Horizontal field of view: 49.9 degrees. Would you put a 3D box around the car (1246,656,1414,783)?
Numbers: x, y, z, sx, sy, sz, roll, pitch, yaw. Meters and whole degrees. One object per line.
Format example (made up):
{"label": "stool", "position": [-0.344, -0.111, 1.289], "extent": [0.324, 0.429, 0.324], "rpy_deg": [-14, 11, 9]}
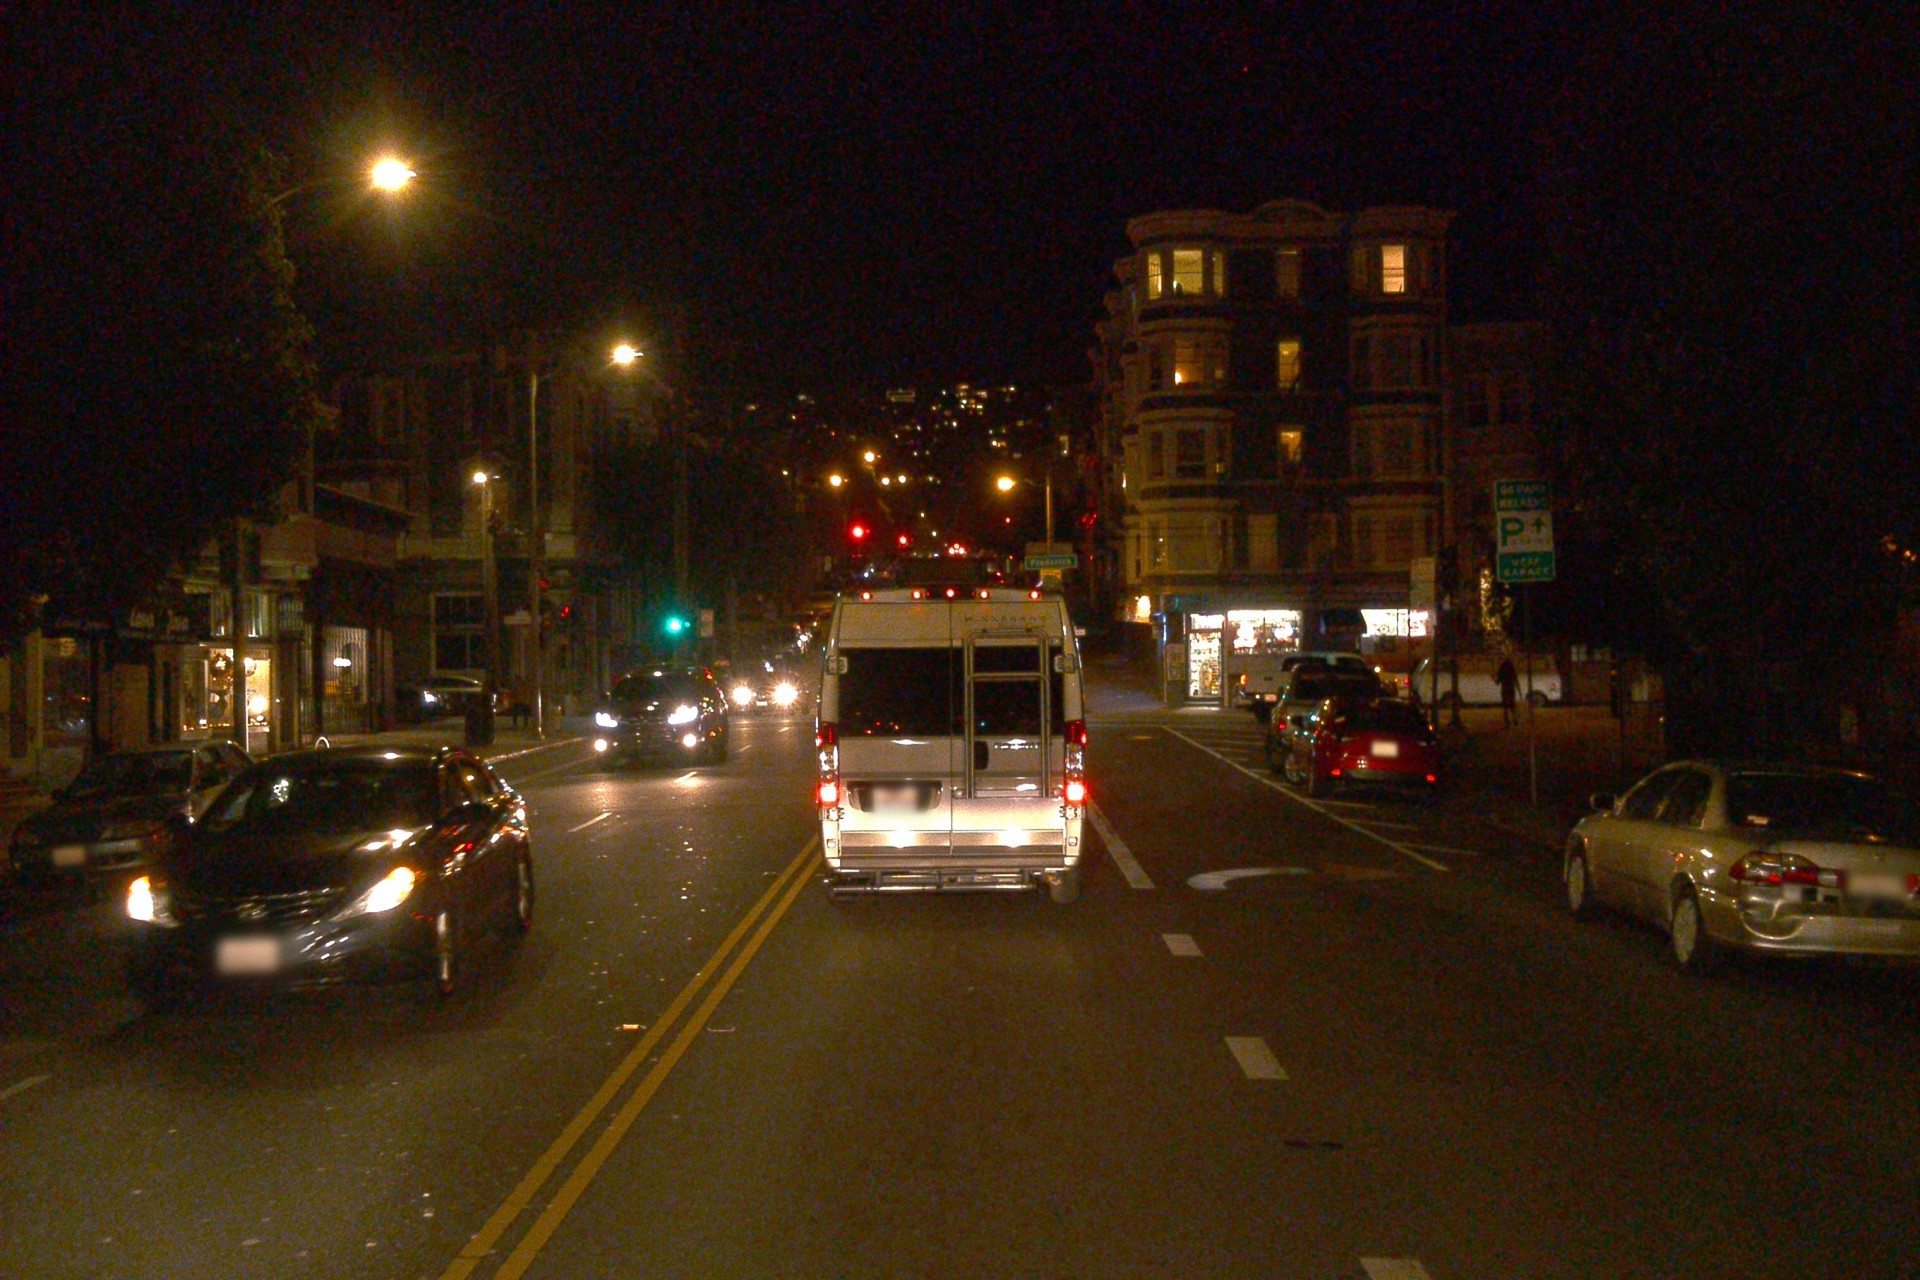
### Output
{"label": "car", "position": [6.127, 1.270, 34.766], "extent": [2.490, 1.930, 4.601], "rpy_deg": [0, 0, 6]}

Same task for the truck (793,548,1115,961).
{"label": "truck", "position": [-0.018, 0.820, 17.575], "extent": [2.338, 3.000, 5.110], "rpy_deg": [0, 0, 1]}

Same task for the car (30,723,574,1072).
{"label": "car", "position": [-3.960, 1.471, 13.418], "extent": [2.219, 1.660, 4.679], "rpy_deg": [0, 0, -2]}

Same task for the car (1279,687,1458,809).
{"label": "car", "position": [5.774, 1.491, 29.664], "extent": [1.963, 1.500, 4.260], "rpy_deg": [0, 0, 3]}

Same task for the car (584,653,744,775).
{"label": "car", "position": [-5.323, 1.280, 37.761], "extent": [2.150, 2.043, 4.863], "rpy_deg": [0, 0, 1]}
